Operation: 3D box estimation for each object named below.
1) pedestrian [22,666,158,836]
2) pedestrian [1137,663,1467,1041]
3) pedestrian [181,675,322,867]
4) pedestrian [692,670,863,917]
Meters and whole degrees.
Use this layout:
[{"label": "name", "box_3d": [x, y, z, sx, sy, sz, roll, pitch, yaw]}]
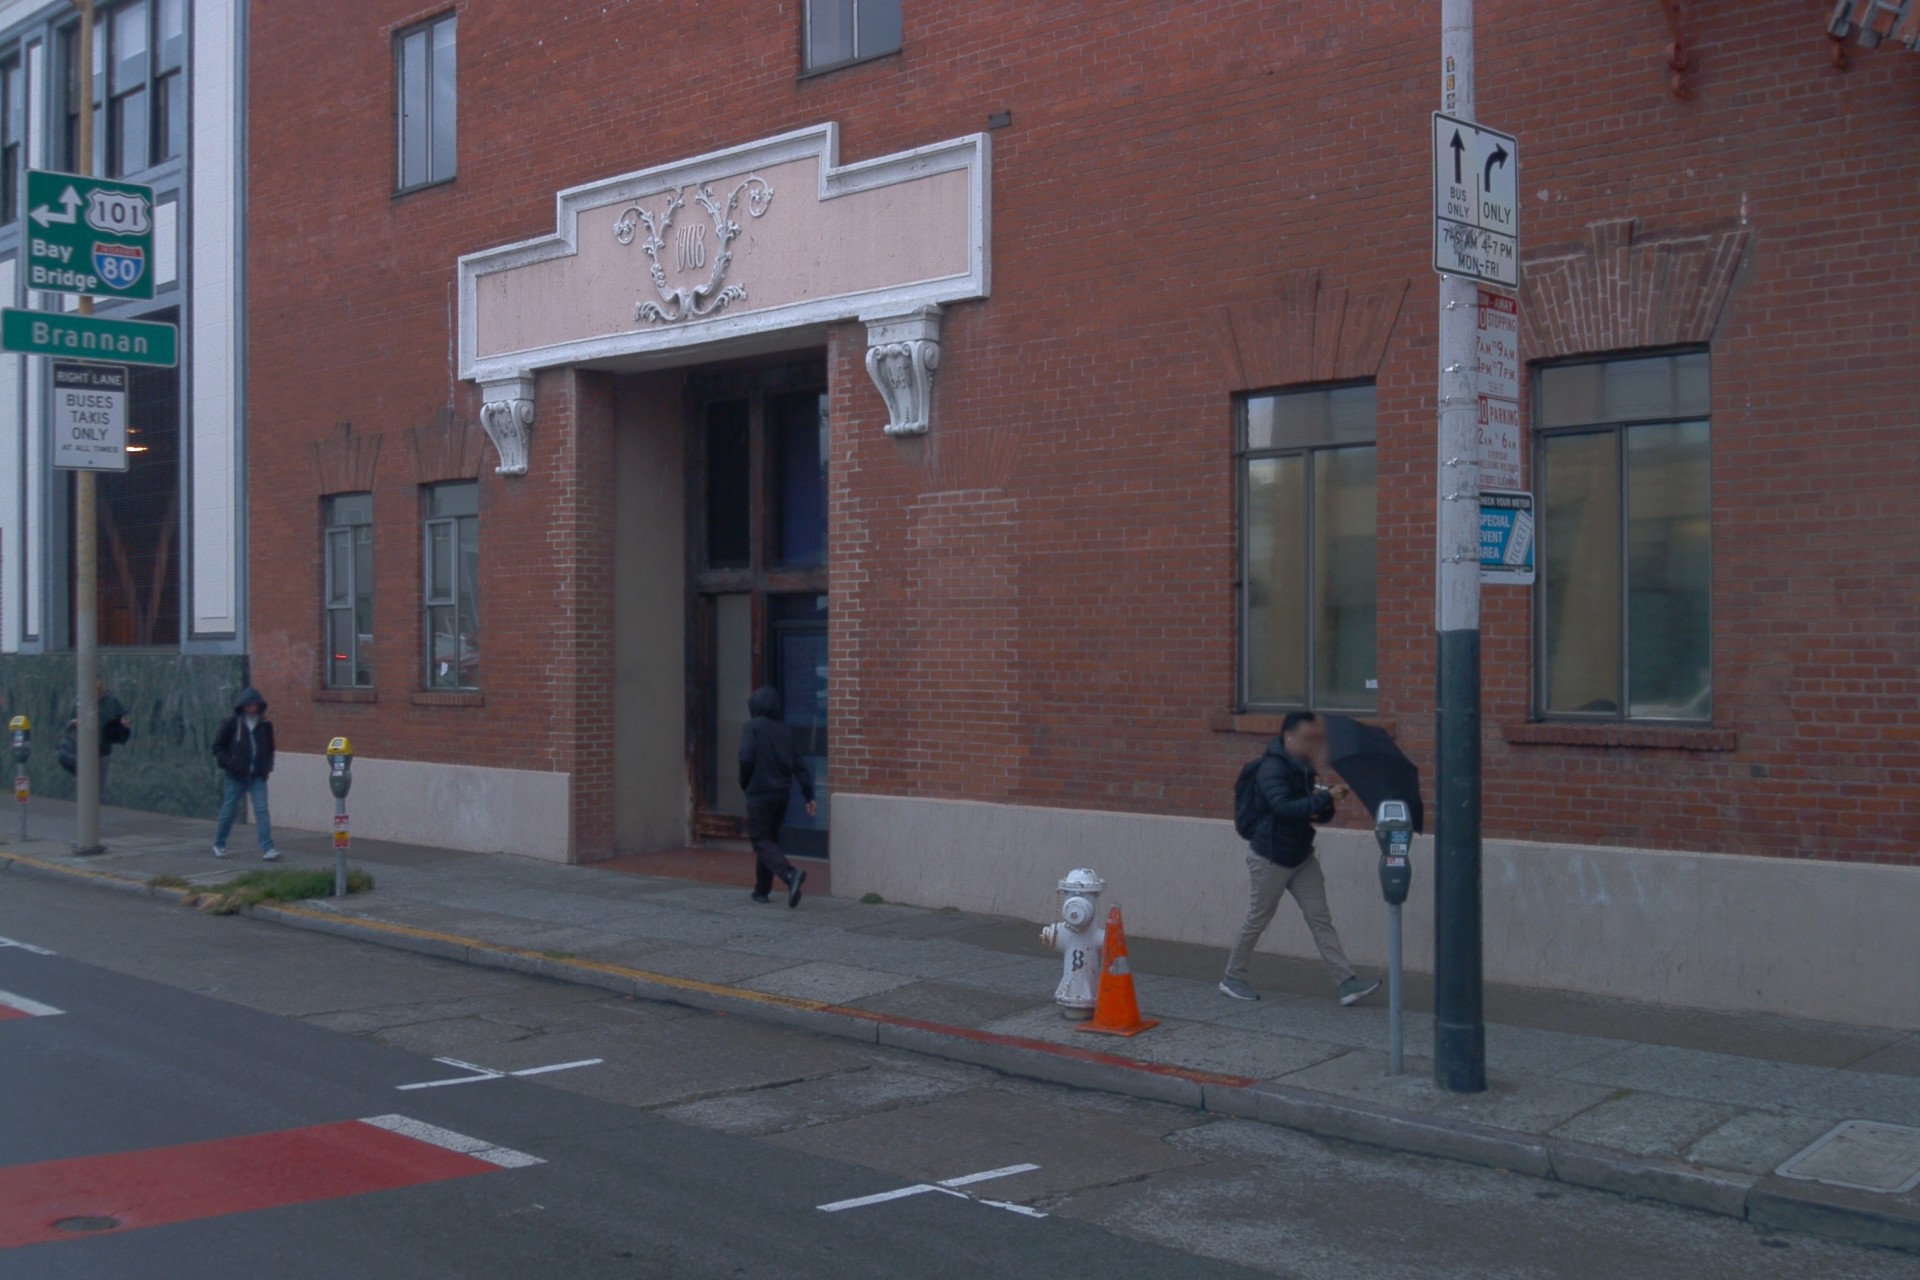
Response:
[{"label": "pedestrian", "box_3d": [-9.484, 1.179, 22.550, 1.051, 1.770, 1.159, 1, -1, -40]}, {"label": "pedestrian", "box_3d": [1.932, 1.122, 11.748, 1.539, 1.970, 1.005, 0, -1, 41]}, {"label": "pedestrian", "box_3d": [-6.753, 1.214, 19.716, 0.893, 1.750, 1.042, 1, -1, -44]}, {"label": "pedestrian", "box_3d": [-1.432, 1.162, 16.214, 0.798, 1.848, 1.126, 1, -1, -43]}]
